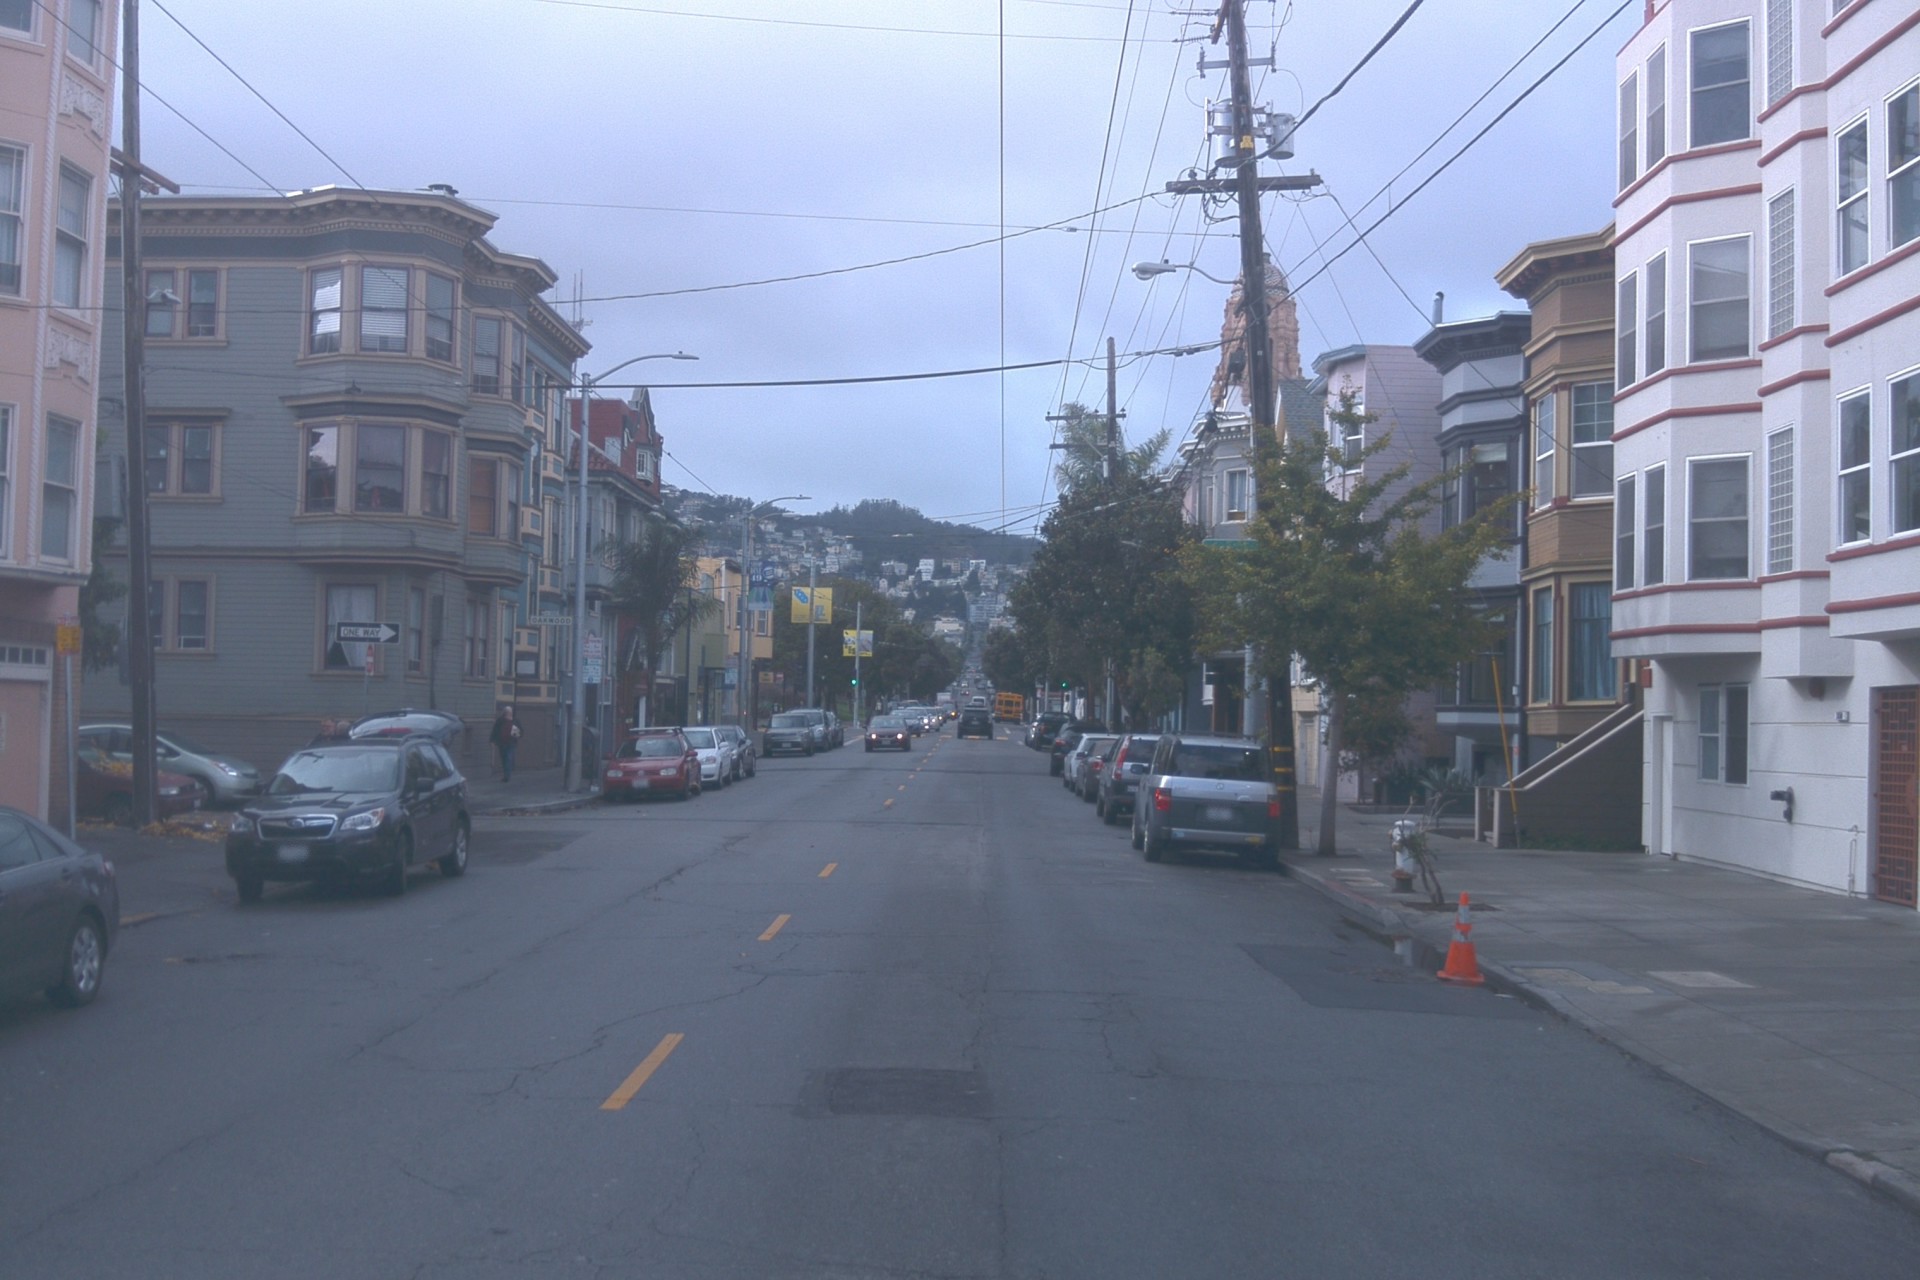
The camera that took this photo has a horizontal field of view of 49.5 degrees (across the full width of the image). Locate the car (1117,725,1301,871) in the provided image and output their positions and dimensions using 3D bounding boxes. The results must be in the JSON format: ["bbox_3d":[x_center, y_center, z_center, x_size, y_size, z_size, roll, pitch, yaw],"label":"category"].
[{"bbox_3d":[3.484,2.194,29.944,2.079,1.840,4.298,1,-2,0],"label":"car"}]

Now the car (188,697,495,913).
[{"bbox_3d":[-6.811,1.743,23.556,2.058,2.150,4.759,1,-2,-1],"label":"car"}]
